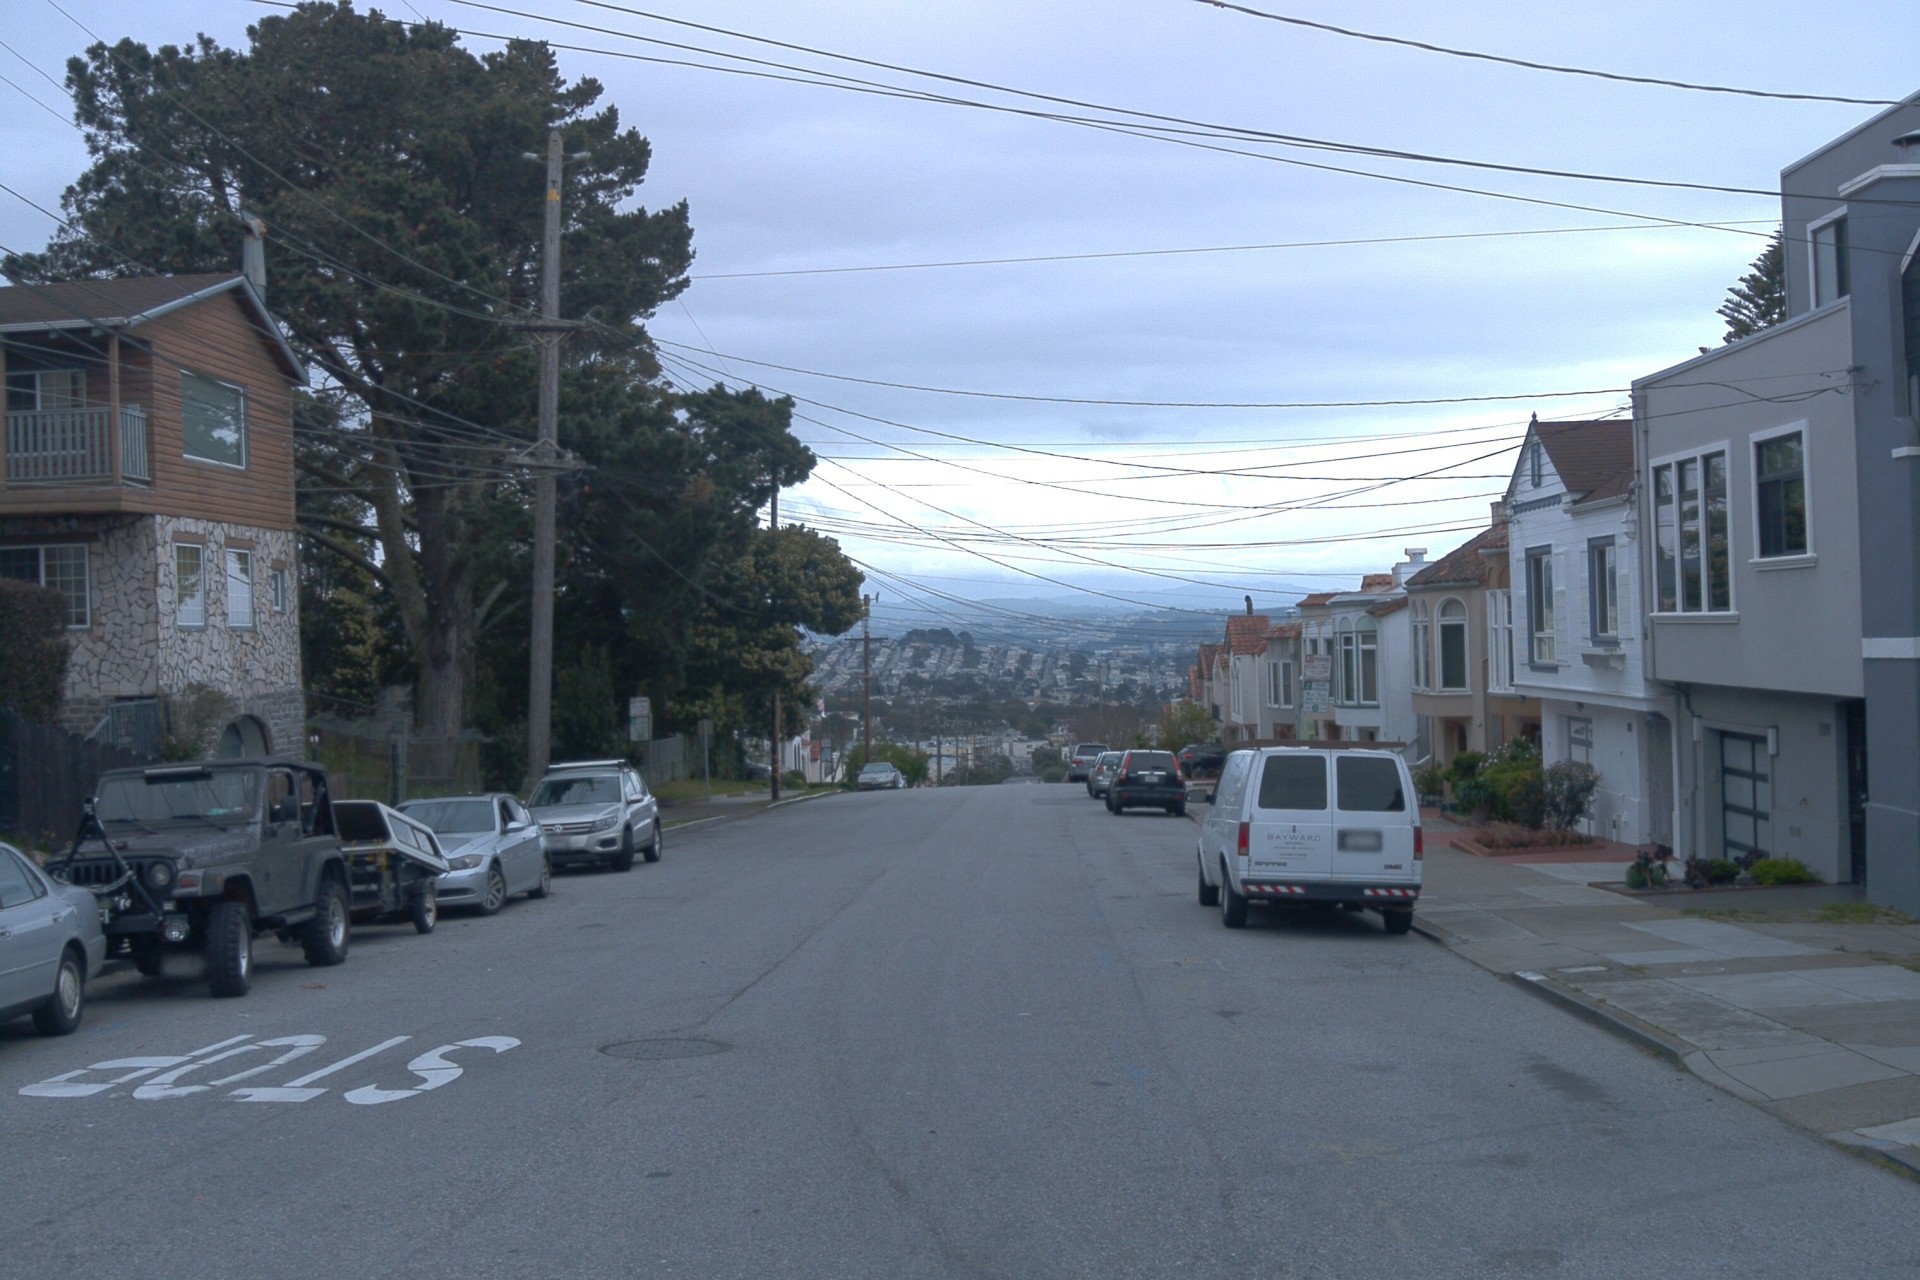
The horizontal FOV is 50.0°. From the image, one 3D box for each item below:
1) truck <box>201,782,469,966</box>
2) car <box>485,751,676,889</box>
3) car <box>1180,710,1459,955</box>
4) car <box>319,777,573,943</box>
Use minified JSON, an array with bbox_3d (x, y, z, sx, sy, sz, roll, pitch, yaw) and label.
[{"bbox_3d":[-6.202,2.288,20.772,1.696,1.510,2.985,0,0,2],"label":"truck"},{"bbox_3d":[-5.972,2.803,32.964,2.107,1.830,4.357,0,0,2],"label":"car"},{"bbox_3d":[3.740,1.946,22.383,2.330,2.195,4.904,0,0,2],"label":"car"},{"bbox_3d":[-6.068,2.564,24.872,1.979,1.530,4.513,0,0,-1],"label":"car"}]
